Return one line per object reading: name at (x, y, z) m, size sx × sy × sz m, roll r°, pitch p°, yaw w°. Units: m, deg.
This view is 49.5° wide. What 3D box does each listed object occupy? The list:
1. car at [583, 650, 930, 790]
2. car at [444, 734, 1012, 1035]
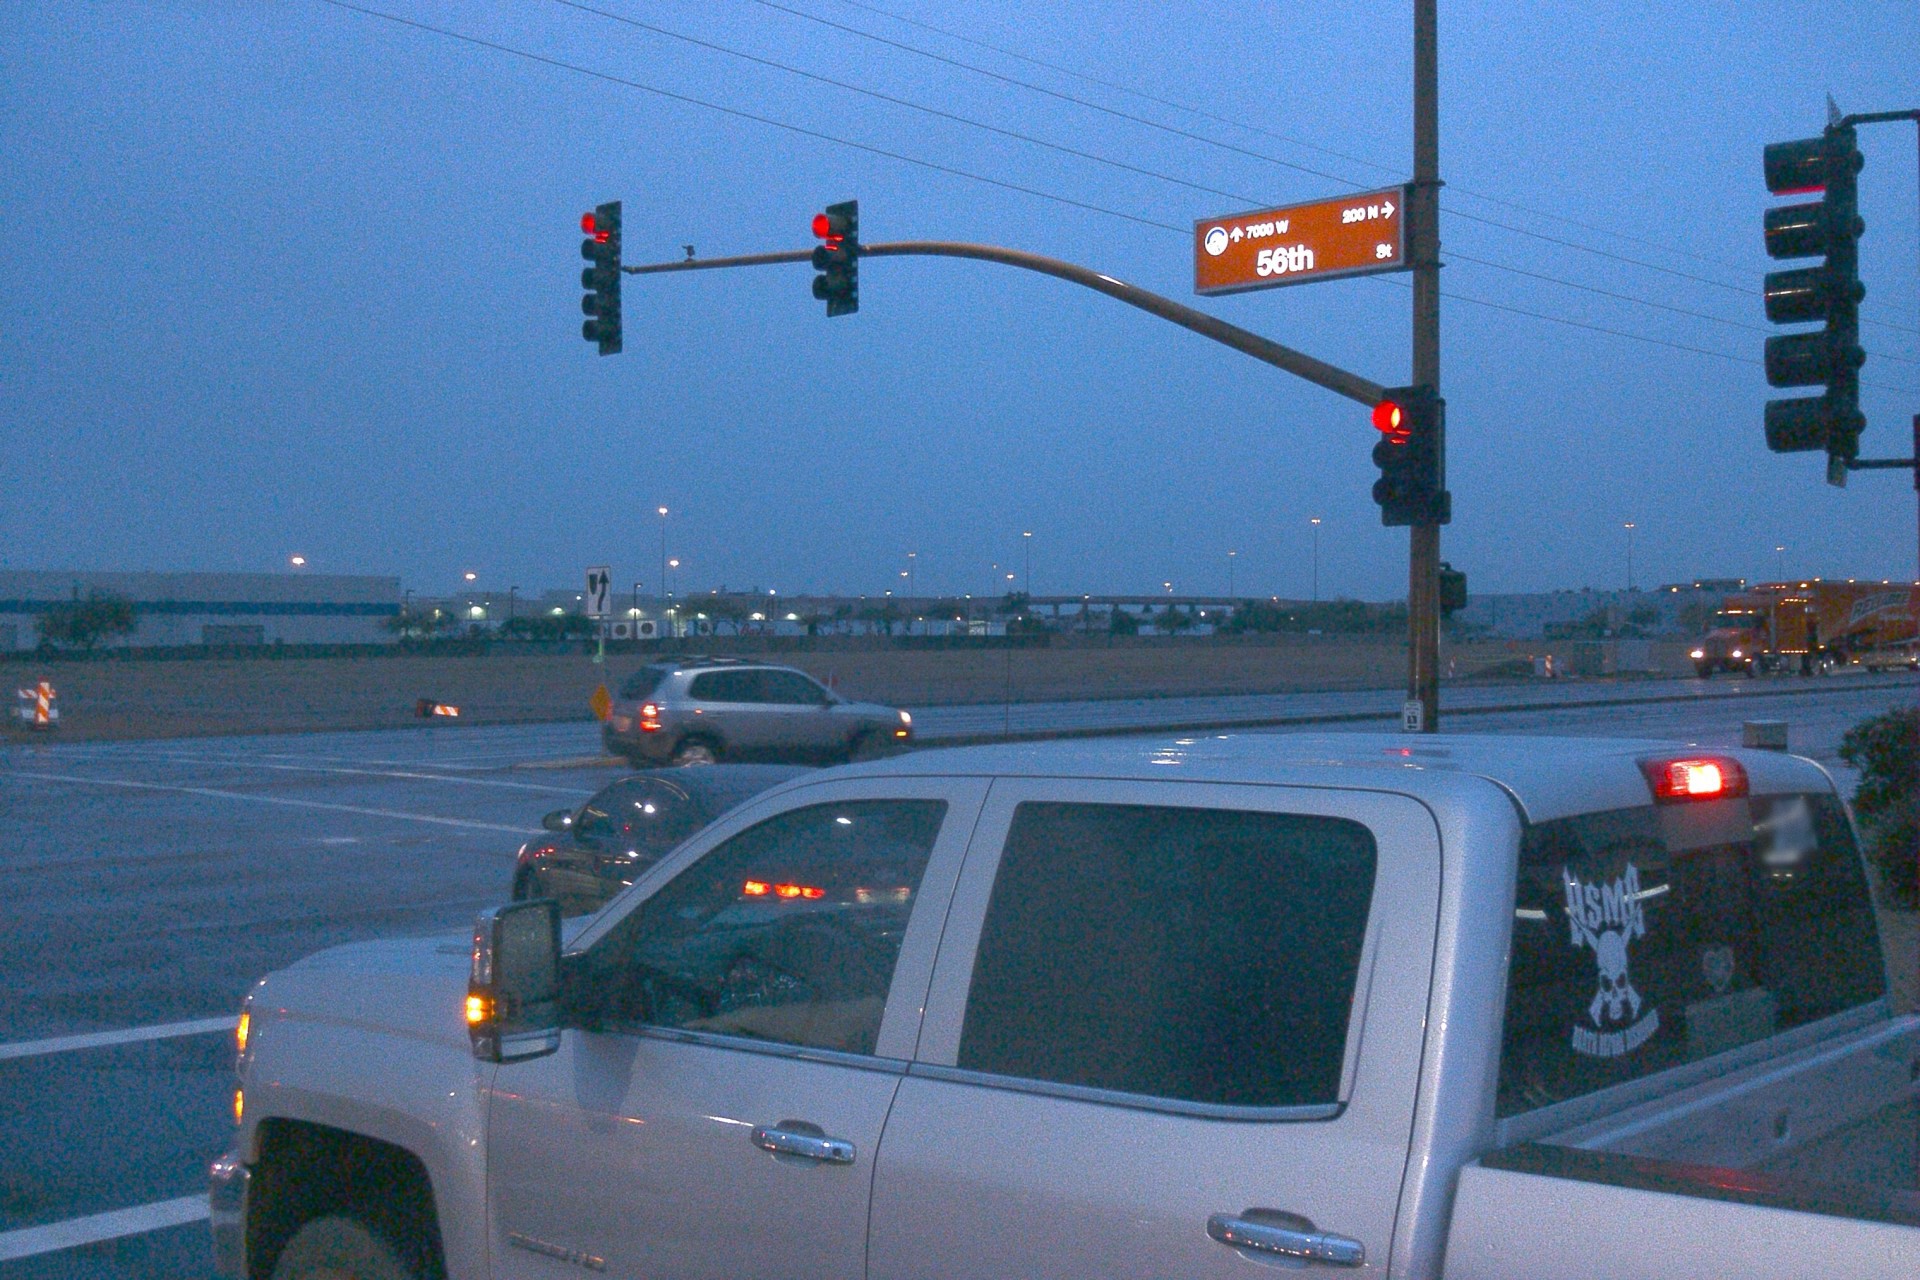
car at (-2.816, 1.058, 28.873) m, size 4.306 × 1.810 × 2.074 m, roll 0°, pitch 0°, yaw -28°
car at (-1.716, 1.413, 13.570) m, size 2.112 × 1.430 × 4.545 m, roll 0°, pitch -1°, yaw -28°
